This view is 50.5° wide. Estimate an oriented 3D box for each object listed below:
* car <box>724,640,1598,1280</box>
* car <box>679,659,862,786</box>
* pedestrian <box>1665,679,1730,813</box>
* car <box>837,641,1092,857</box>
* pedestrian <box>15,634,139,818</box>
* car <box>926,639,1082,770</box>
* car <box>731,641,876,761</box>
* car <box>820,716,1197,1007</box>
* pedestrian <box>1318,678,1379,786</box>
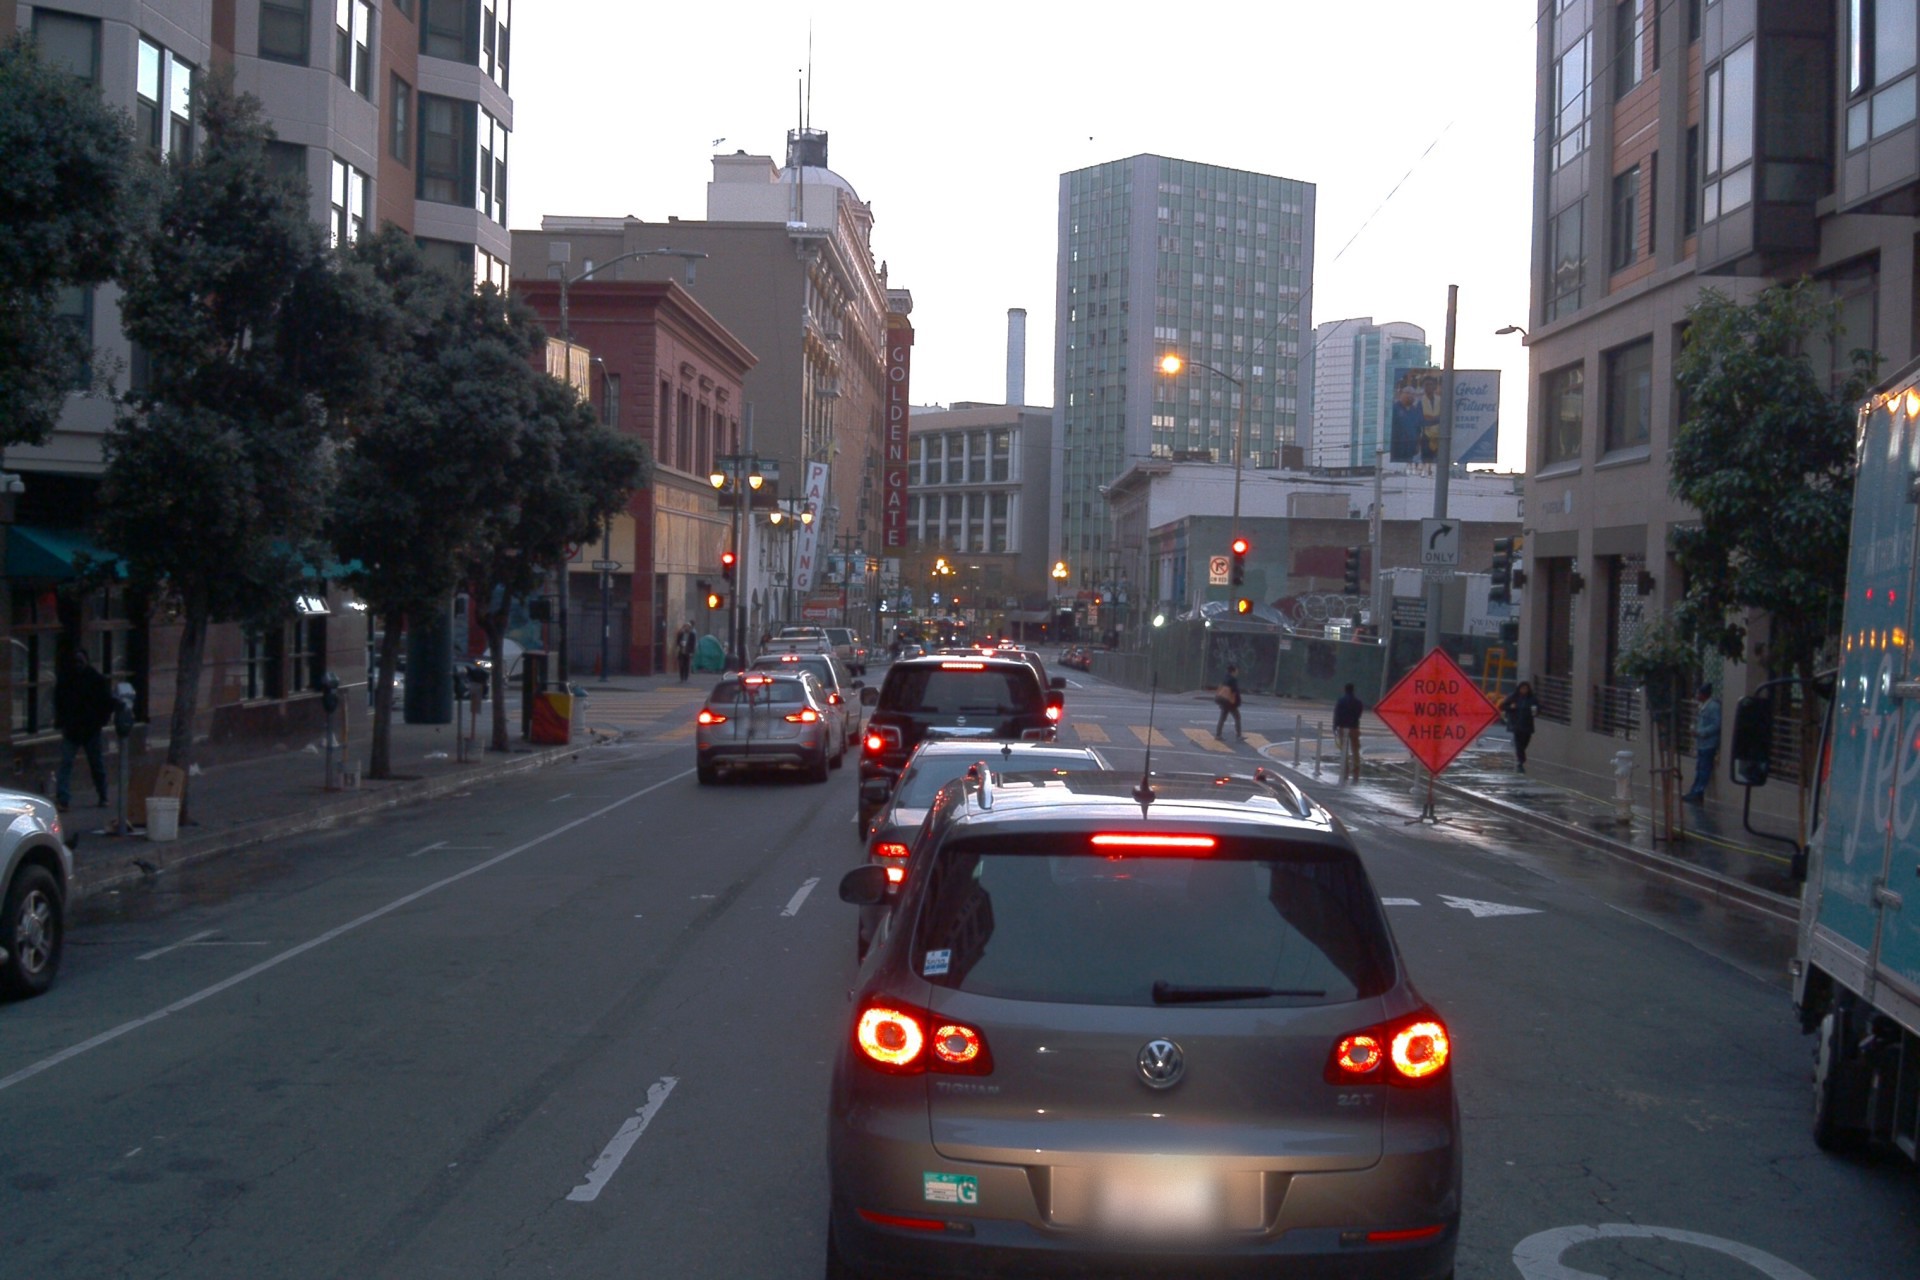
[{"bbox_3d":[0.546,1.064,7.023,2.109,2.050,3.981,1,1,2],"label":"car"},{"bbox_3d":[-2.614,1.111,29.091,2.110,1.572,4.118,1,1,1],"label":"car"},{"bbox_3d":[10.762,1.533,29.715,0.659,1.890,0.755,1,1,4],"label":"pedestrian"},{"bbox_3d":[0.036,1.029,21.904,2.368,1.940,5.339,1,1,0],"label":"car"},{"bbox_3d":[-9.287,0.883,21.453,0.828,1.860,1.059,1,1,0],"label":"pedestrian"},{"bbox_3d":[0.622,0.856,29.391,2.036,1.650,4.678,1,1,1],"label":"car"},{"bbox_3d":[-2.657,0.998,35.547,1.896,1.880,4.462,1,1,4],"label":"car"},{"bbox_3d":[0.292,1.324,13.592,2.089,1.400,4.279,1,1,1],"label":"car"},{"bbox_3d":[6.687,1.576,35.069,0.777,1.790,0.924,1,1,-4],"label":"pedestrian"}]
